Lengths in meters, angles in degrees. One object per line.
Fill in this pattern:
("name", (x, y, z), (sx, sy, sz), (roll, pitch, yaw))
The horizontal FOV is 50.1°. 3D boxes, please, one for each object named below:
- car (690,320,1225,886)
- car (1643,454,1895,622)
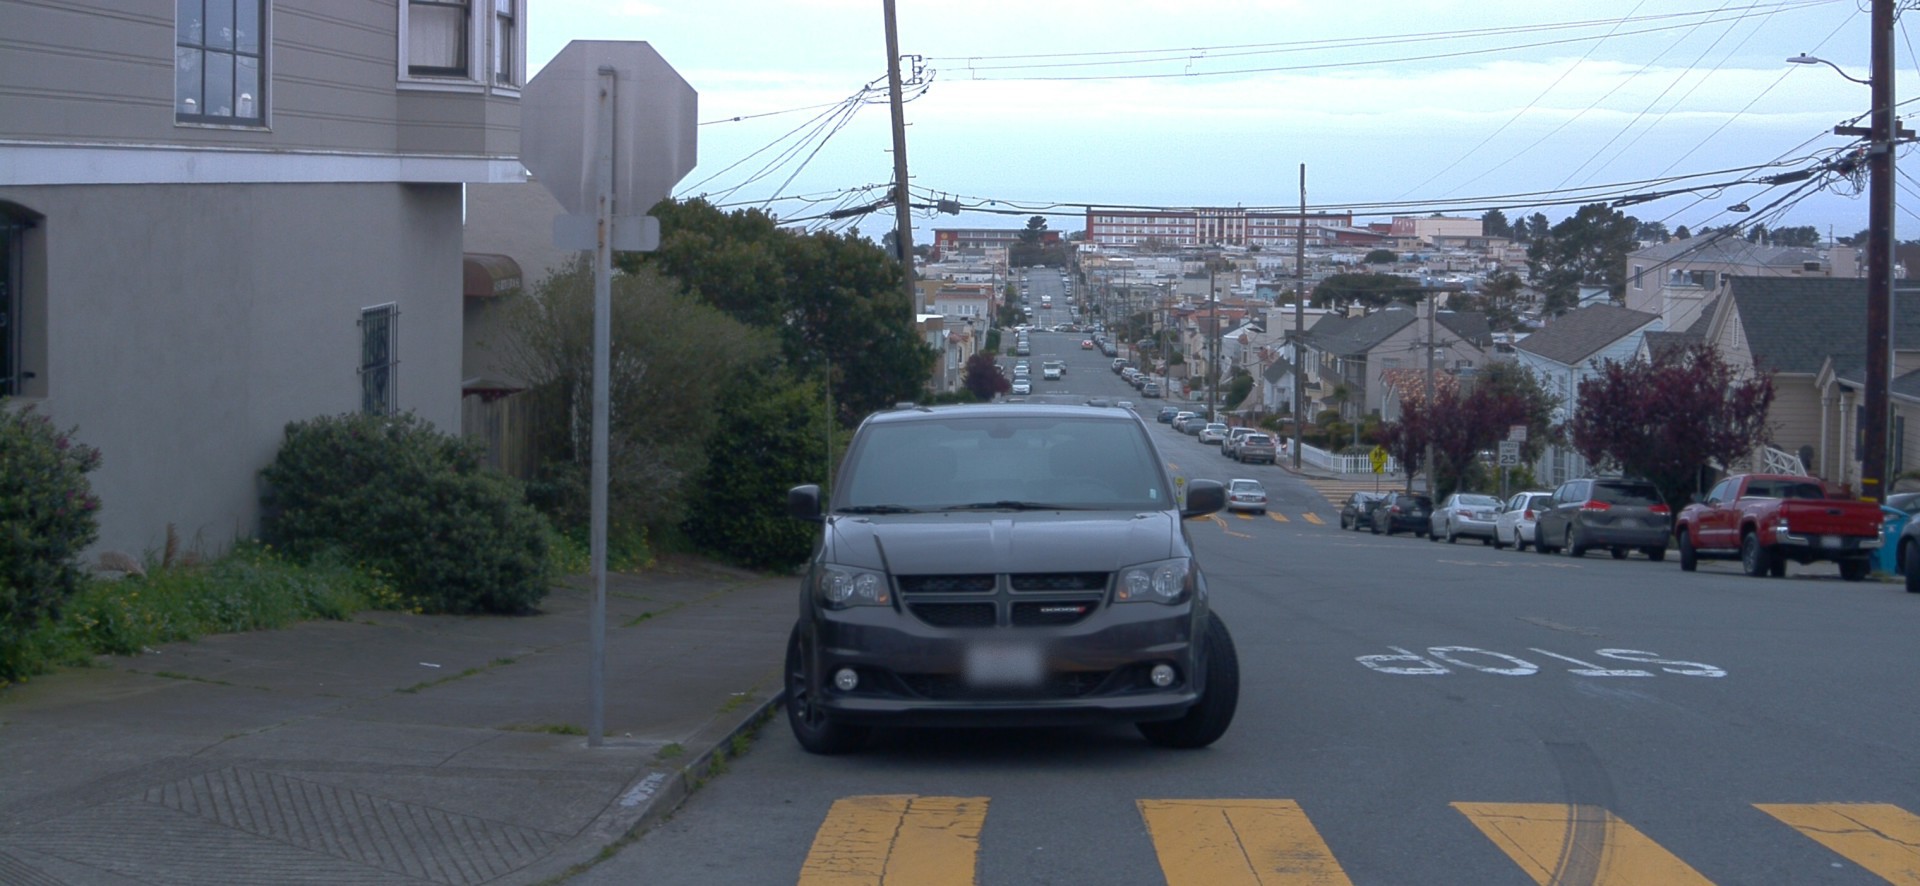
("car", (0.051, 0.582, 11.582), (2.334, 2.311, 5.191), (0, 5, 1))
("car", (13.548, 1.499, 34.782), (2.331, 2.072, 5.092), (0, 5, 1))
